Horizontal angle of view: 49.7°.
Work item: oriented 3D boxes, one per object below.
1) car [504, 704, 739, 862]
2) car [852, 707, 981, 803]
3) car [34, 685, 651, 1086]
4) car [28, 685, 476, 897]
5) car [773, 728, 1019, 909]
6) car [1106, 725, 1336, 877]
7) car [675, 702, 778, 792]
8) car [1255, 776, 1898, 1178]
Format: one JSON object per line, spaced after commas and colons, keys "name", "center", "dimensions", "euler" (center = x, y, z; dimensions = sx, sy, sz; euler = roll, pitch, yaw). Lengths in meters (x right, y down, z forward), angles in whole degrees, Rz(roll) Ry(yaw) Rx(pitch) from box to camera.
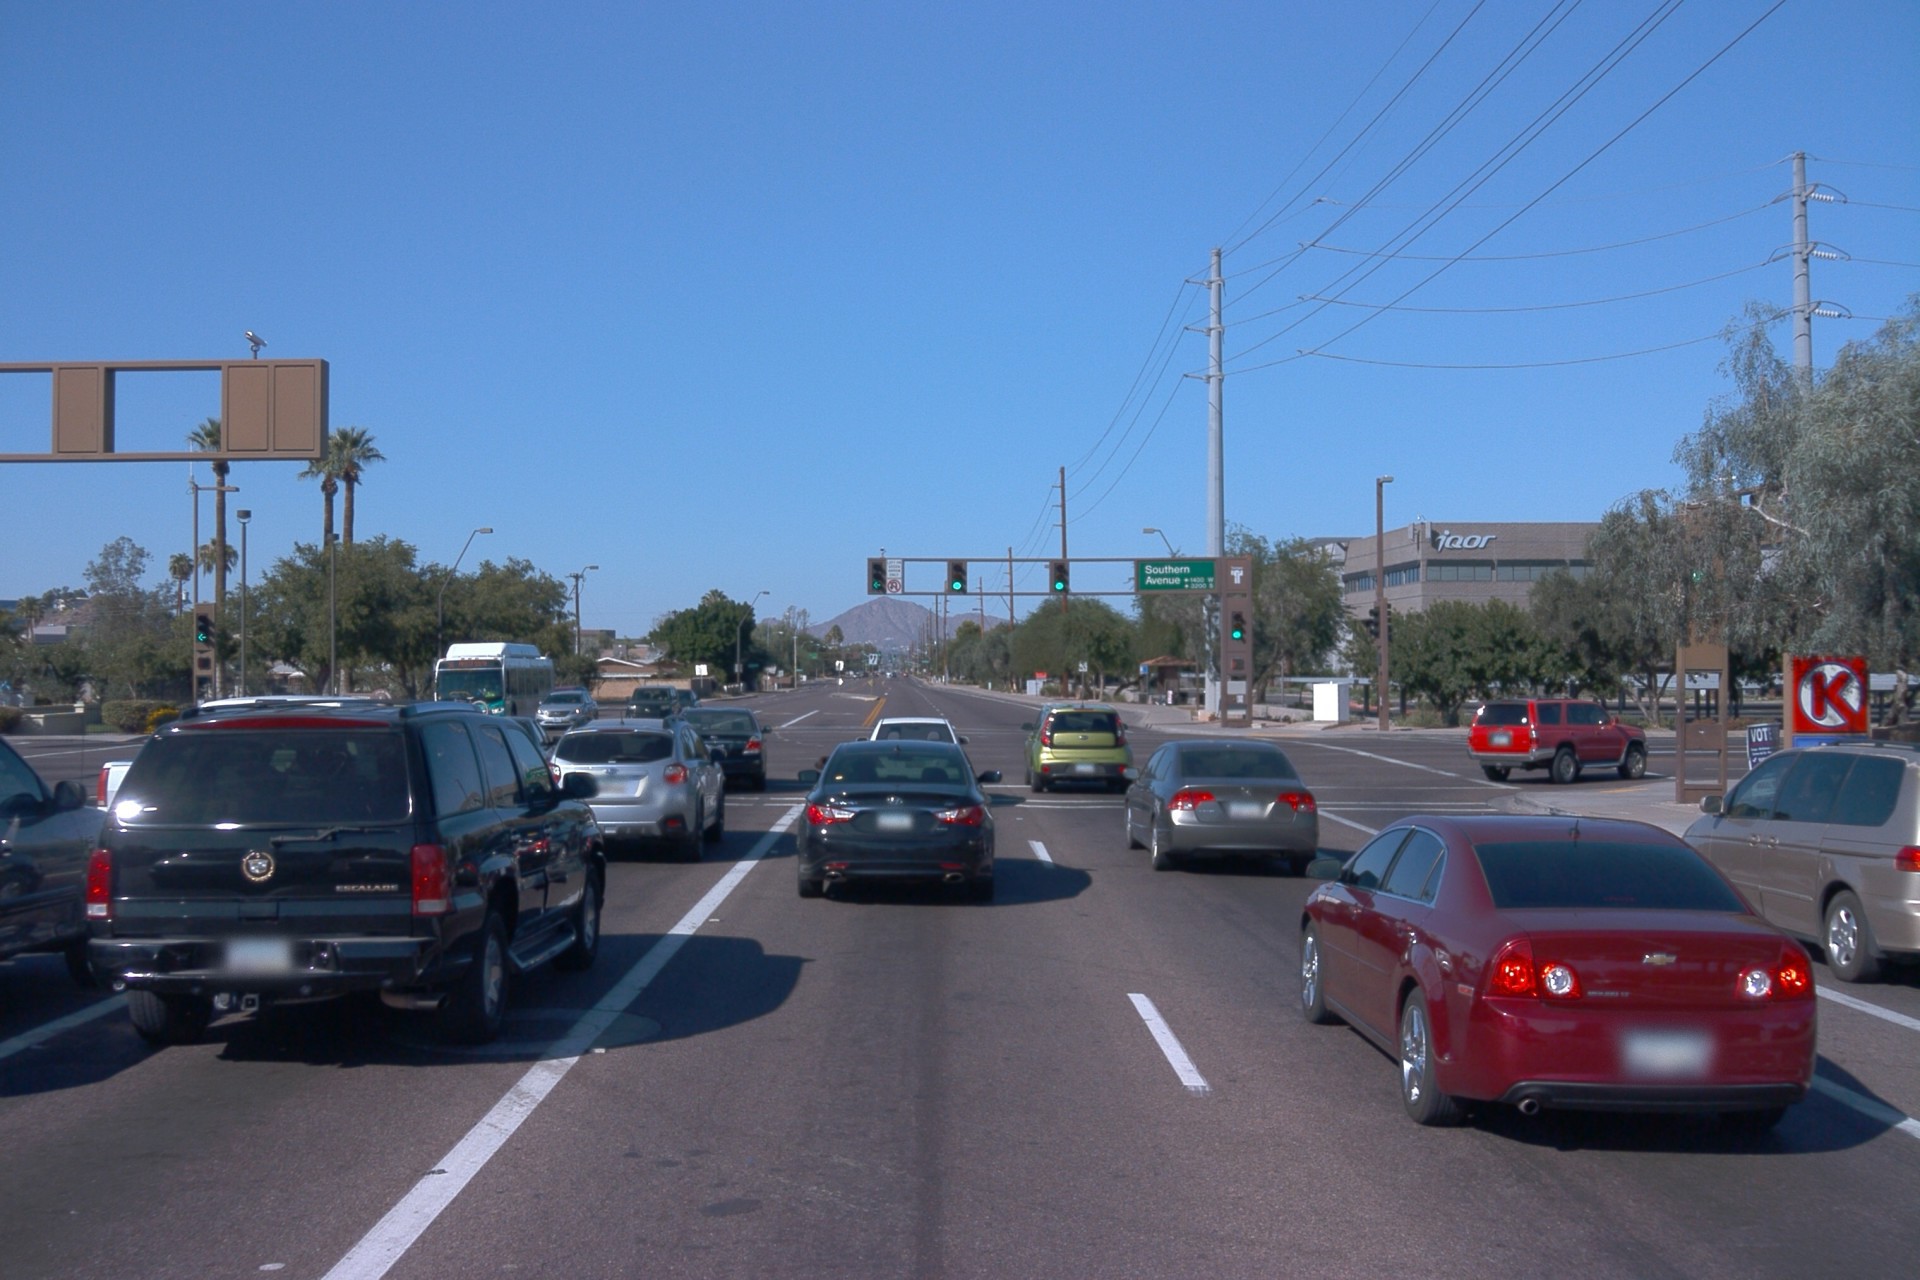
{"name": "car", "center": [-3.840, 1.593, 24.345], "dimensions": [2.077, 1.610, 4.768], "euler": [0, -1, -1]}
{"name": "car", "center": [-0.734, 1.843, 34.311], "dimensions": [1.969, 1.400, 5.048], "euler": [0, -1, -1]}
{"name": "car", "center": [-3.449, 1.273, 12.823], "dimensions": [2.219, 1.970, 5.012], "euler": [0, -1, 1]}
{"name": "car", "center": [-7.116, 1.427, 21.802], "dimensions": [2.494, 1.900, 6.193], "euler": [0, -1, 1]}
{"name": "car", "center": [-0.601, 1.670, 20.592], "dimensions": [2.156, 1.470, 4.806], "euler": [0, -1, -1]}
{"name": "car", "center": [2.893, 1.778, 23.971], "dimensions": [1.906, 1.500, 4.575], "euler": [0, -1, -2]}
{"name": "car", "center": [-4.216, 1.897, 37.629], "dimensions": [1.734, 1.500, 4.322], "euler": [0, -1, -6]}
{"name": "car", "center": [2.963, 1.592, 11.213], "dimensions": [1.961, 1.480, 4.830], "euler": [0, -1, -1]}
